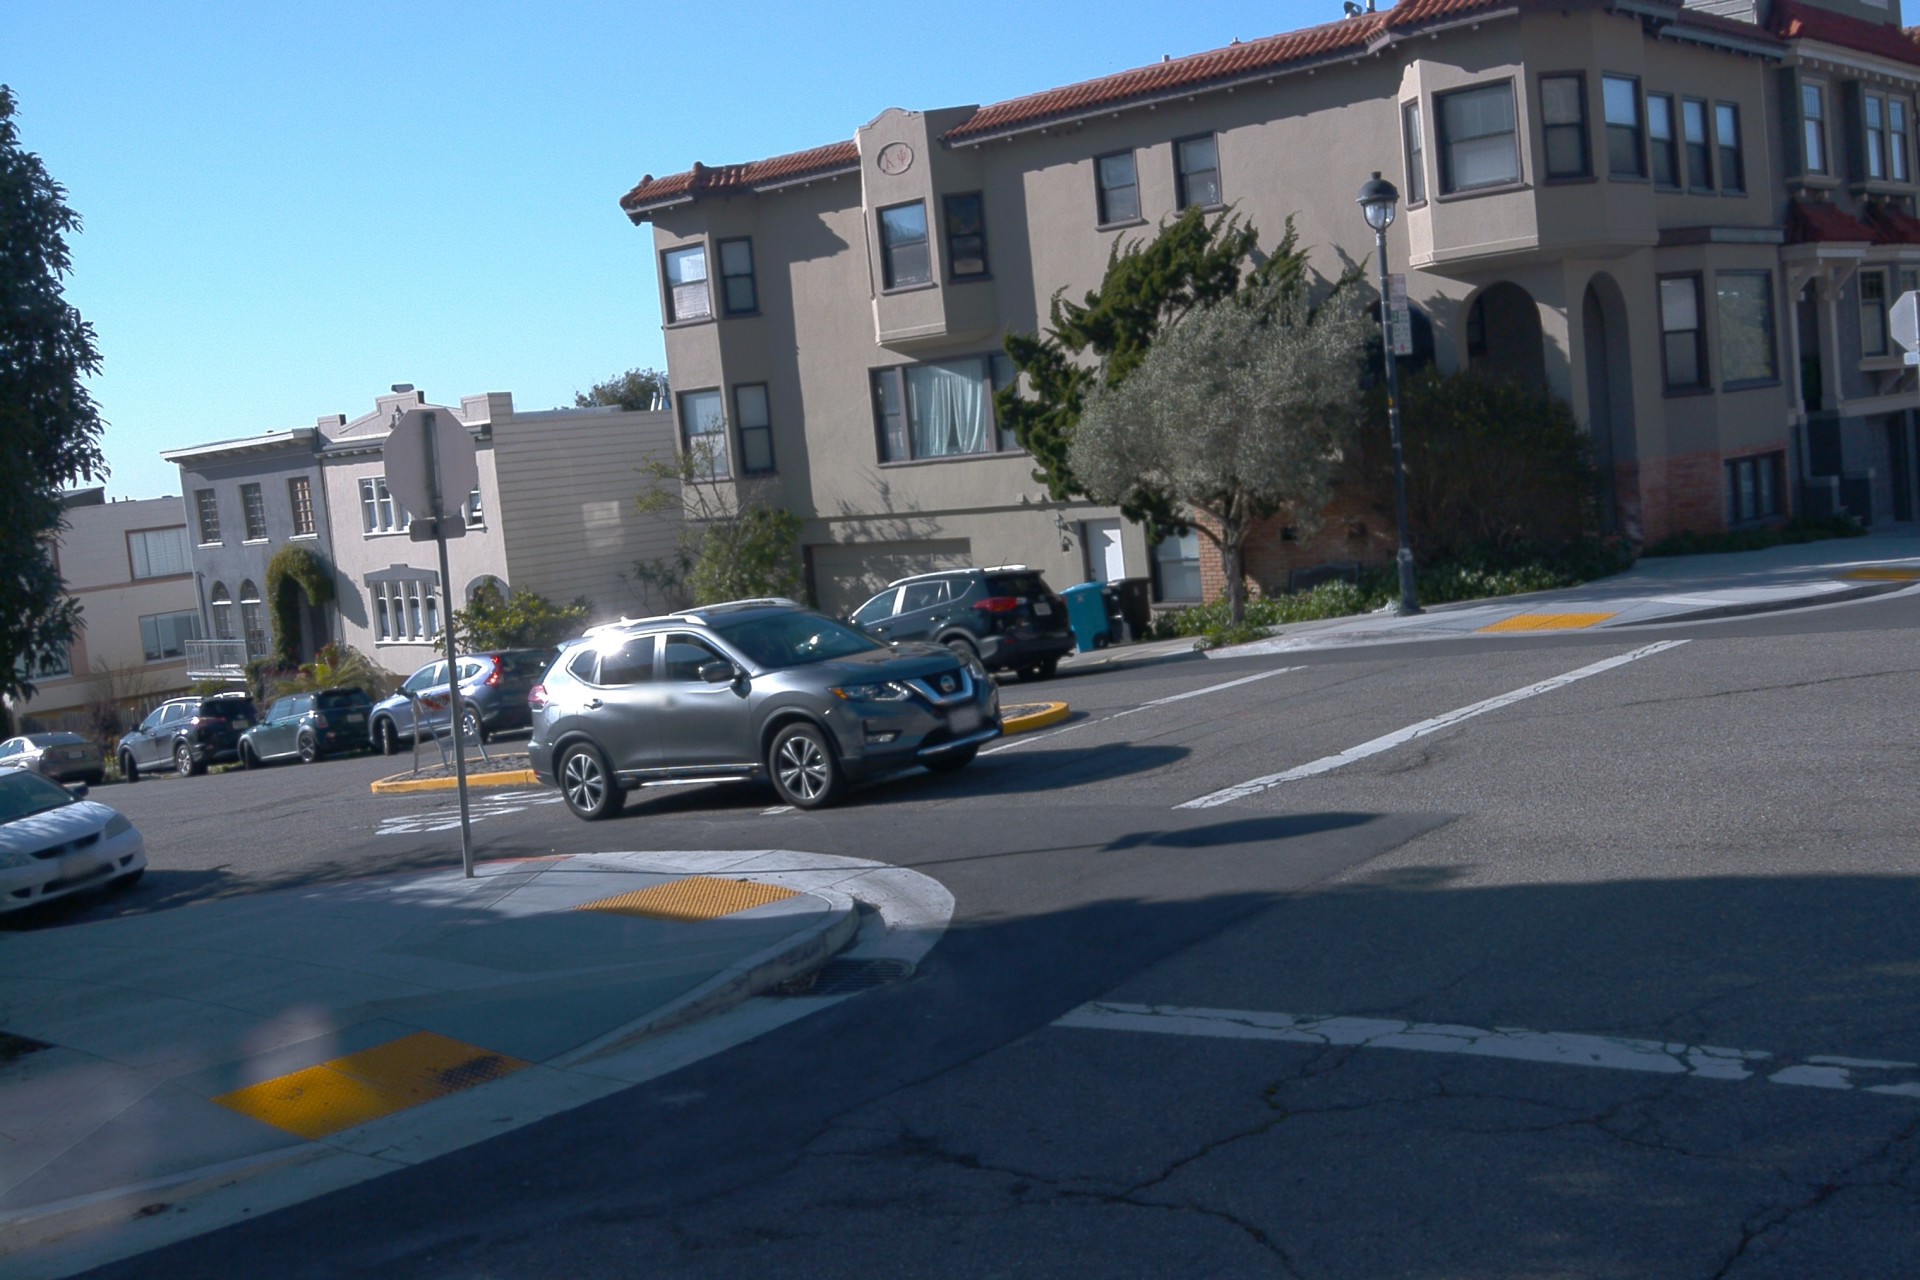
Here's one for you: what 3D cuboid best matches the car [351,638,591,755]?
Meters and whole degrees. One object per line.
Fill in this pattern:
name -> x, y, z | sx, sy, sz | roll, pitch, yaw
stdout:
car -> -8.774, 0.951, 37.048 | 4.304, 1.950, 2.023 | 0, 0, 41

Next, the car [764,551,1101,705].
car -> -0.450, -0.161, 29.613 | 4.526, 2.020, 2.204 | 0, 0, 43

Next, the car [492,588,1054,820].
car -> -1.701, 0.481, 17.827 | 4.680, 1.740, 2.086 | 0, 0, 39
